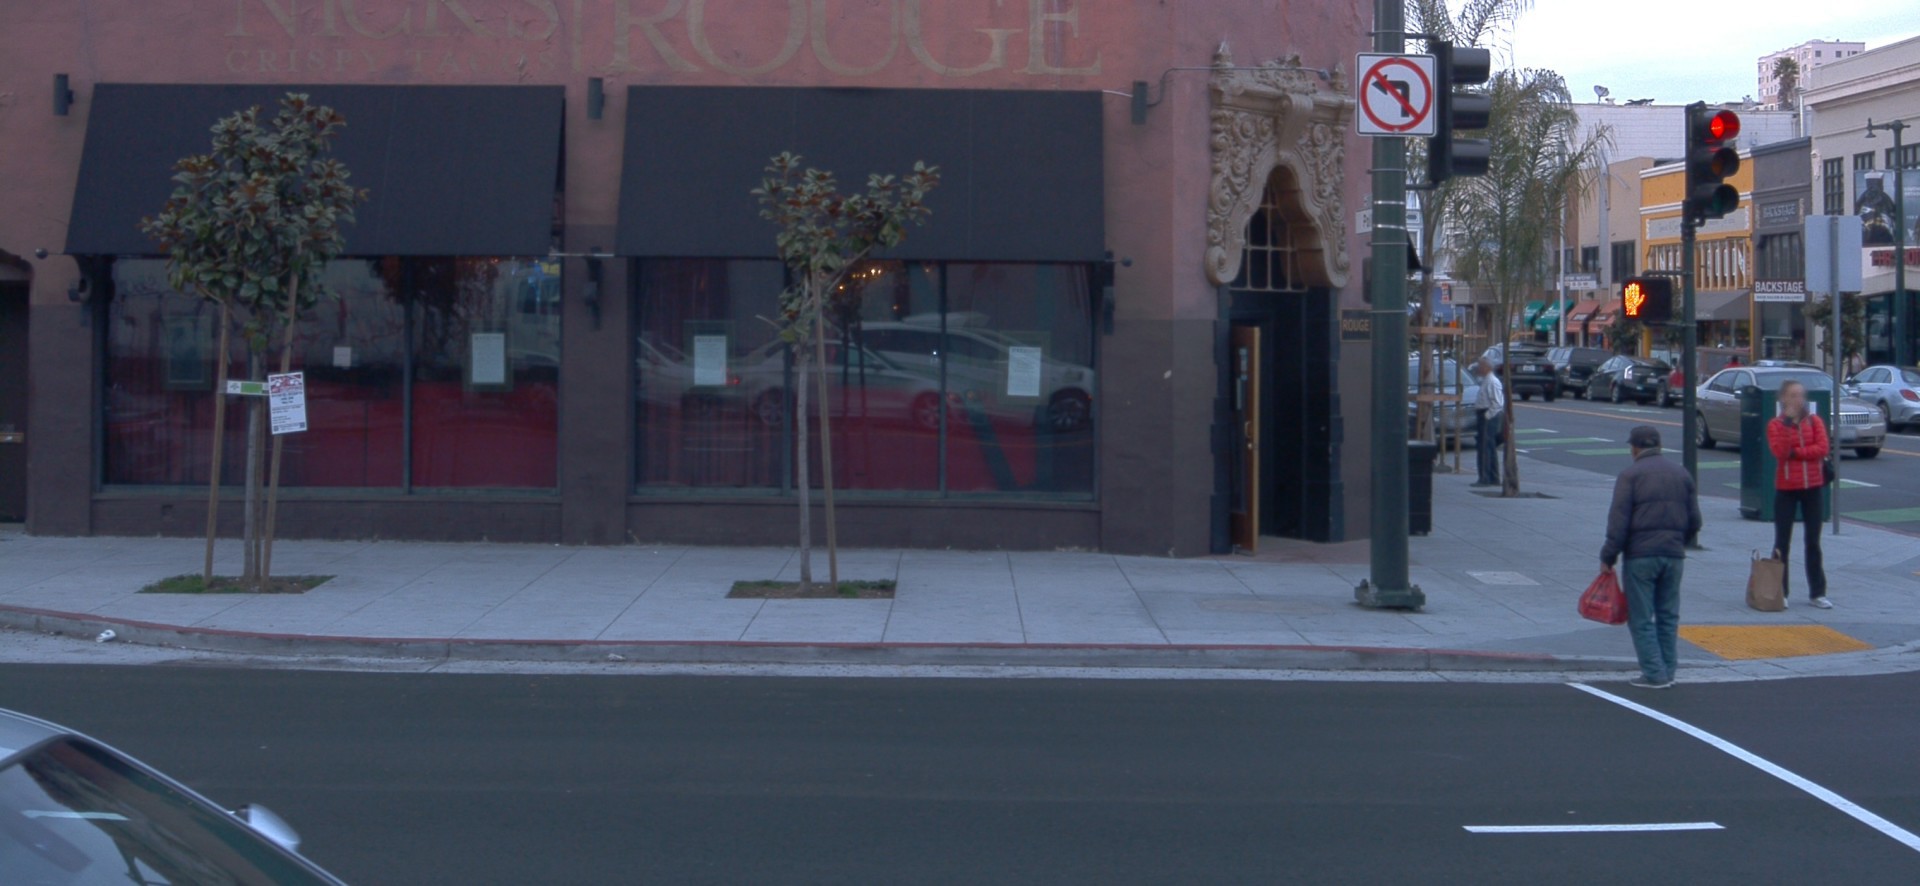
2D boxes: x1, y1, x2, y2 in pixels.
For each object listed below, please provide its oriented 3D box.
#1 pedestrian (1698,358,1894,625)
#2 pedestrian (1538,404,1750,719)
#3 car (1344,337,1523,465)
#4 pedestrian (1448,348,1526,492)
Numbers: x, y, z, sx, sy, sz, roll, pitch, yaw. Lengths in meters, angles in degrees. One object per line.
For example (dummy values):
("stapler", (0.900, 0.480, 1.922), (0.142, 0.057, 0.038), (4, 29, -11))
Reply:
("pedestrian", (6.244, 0.332, 15.426), (1.068, 1.874, 0.867), (0, 2, -5))
("pedestrian", (3.996, 0.659, 12.098), (0.854, 1.676, 0.920), (0, 3, -7))
("car", (8.713, -0.851, 38.322), (2.175, 1.910, 4.798), (0, 6, -1))
("pedestrian", (6.749, -0.309, 26.415), (0.882, 1.726, 1.028), (1, 3, 10))
